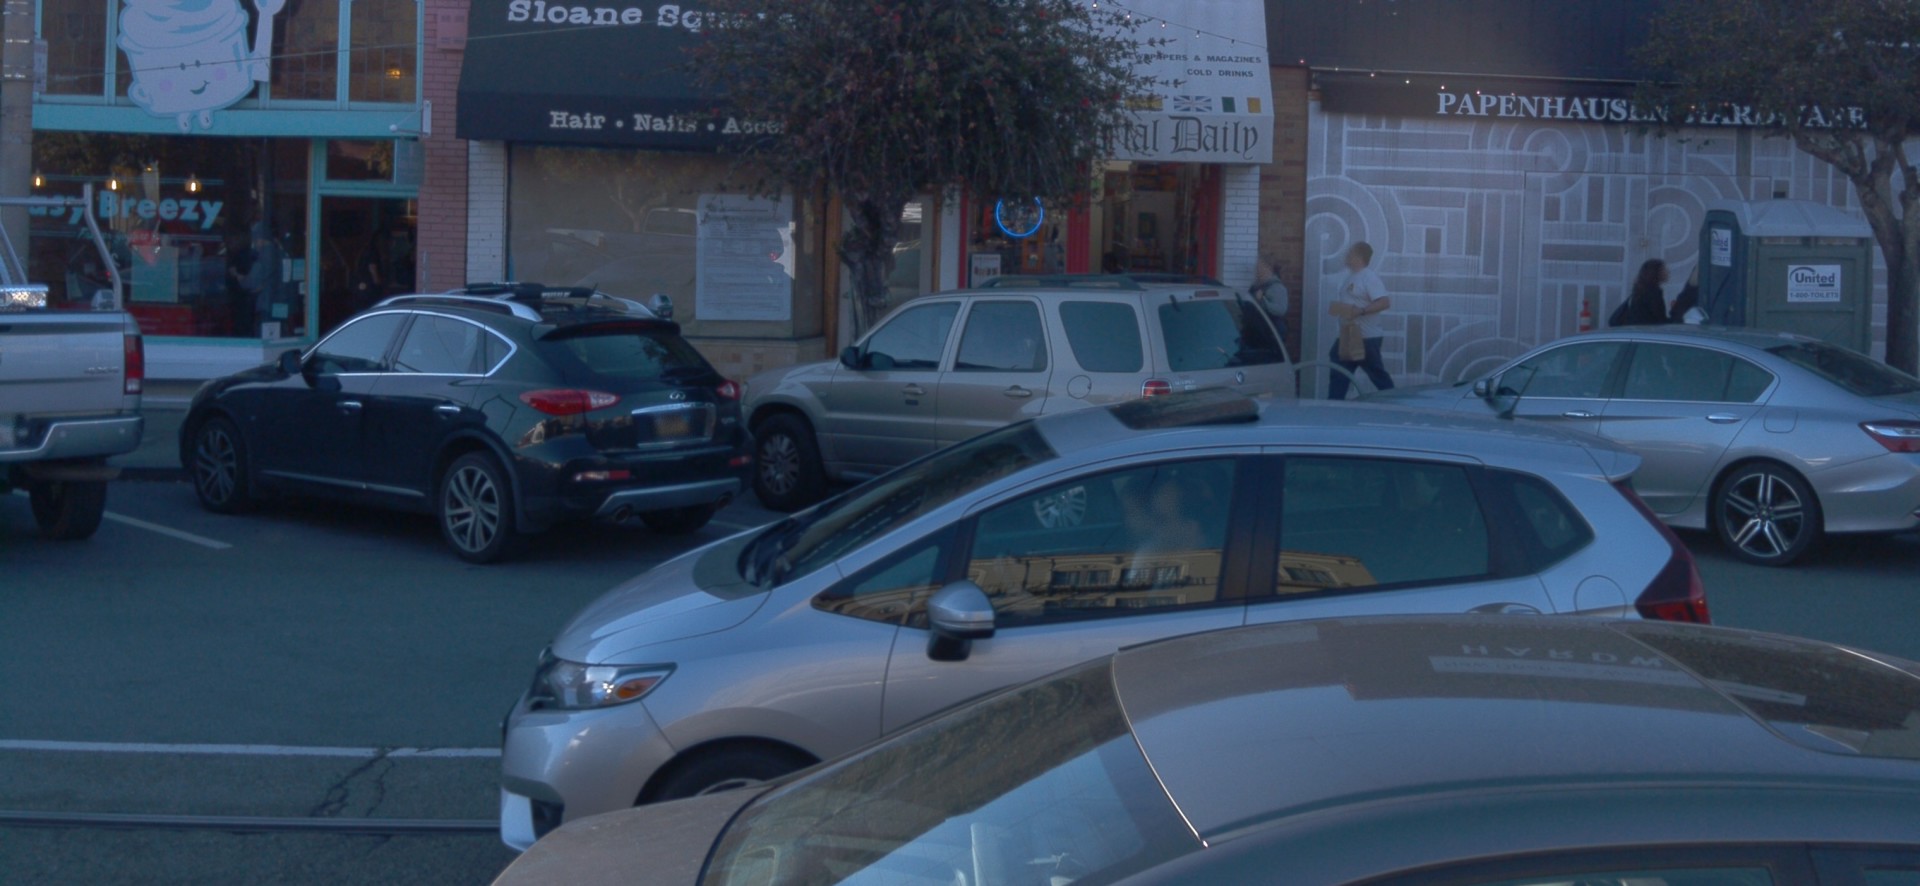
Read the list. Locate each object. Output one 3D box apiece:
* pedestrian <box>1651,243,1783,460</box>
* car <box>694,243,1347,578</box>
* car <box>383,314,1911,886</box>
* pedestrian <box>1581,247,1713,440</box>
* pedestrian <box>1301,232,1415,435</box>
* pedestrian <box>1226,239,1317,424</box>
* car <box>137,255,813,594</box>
[{"bbox_3d":[6.737,-0.834,18.520,0.771,1.866,0.910,1,2,-5],"label":"pedestrian"},{"bbox_3d":[0.321,-0.404,14.599,4.242,1.893,2.078,6,6,42],"label":"car"},{"bbox_3d":[0.504,0.534,6.560,4.080,1.724,2.042,1,4,-3],"label":"car"},{"bbox_3d":[6.384,-0.940,19.327,0.899,1.737,0.802,1,2,-6],"label":"pedestrian"},{"bbox_3d":[3.692,-1.037,19.299,0.734,1.816,0.918,0,2,-11],"label":"pedestrian"},{"bbox_3d":[2.963,-1.076,19.793,0.714,1.707,0.692,1,2,-3],"label":"pedestrian"},{"bbox_3d":[-3.380,-0.306,14.047,4.523,1.793,2.116,6,6,39],"label":"car"}]
